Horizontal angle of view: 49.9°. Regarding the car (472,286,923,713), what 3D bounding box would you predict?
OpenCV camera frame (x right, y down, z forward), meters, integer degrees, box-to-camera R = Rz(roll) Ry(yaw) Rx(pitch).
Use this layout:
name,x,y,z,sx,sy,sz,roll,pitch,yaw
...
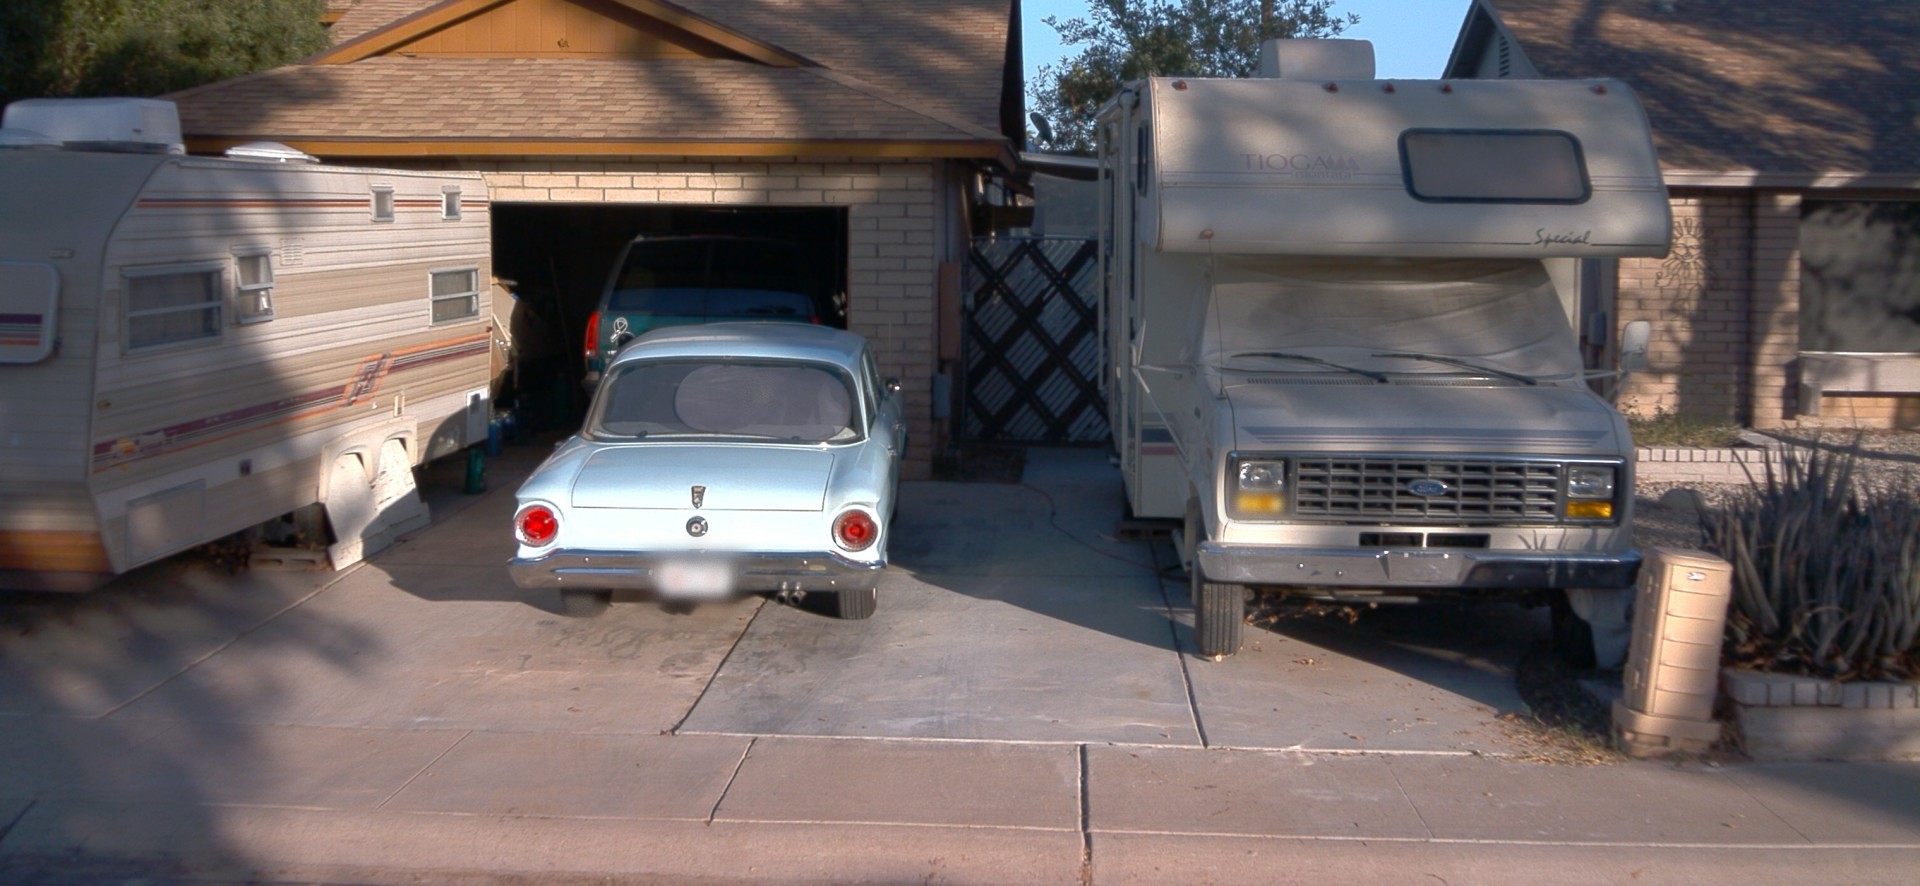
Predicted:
name,x,y,z,sx,sy,sz,roll,pitch,yaw
car,-1.291,0.083,12.223,1.955,1.811,4.930,1,6,1

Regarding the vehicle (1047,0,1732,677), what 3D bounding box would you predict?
name,x,y,z,sx,sy,sz,roll,pitch,yaw
vehicle,2.092,-0.982,12.840,2.984,3.265,6.914,1,5,2

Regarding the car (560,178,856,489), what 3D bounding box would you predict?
name,x,y,z,sx,sy,sz,roll,pitch,yaw
car,-2.059,-1.097,18.176,1.956,2.350,4.594,1,5,1
